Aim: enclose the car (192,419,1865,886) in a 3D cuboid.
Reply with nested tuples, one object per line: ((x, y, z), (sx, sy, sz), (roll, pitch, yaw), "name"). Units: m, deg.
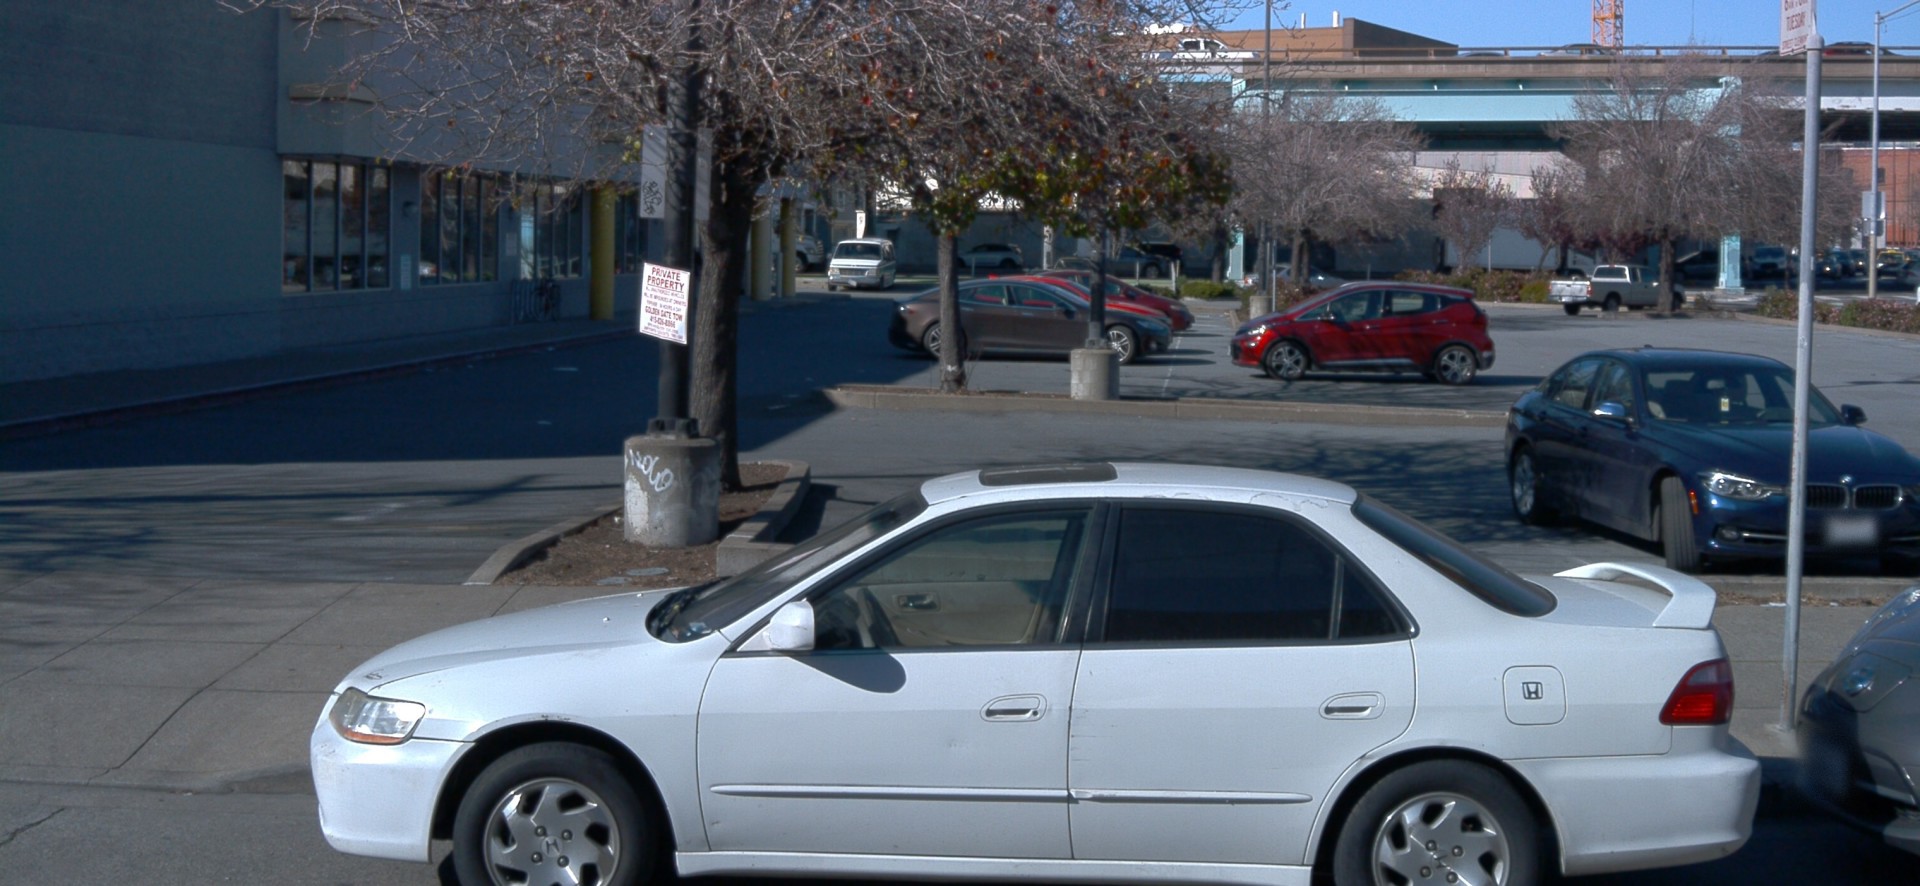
((0.197, 0.784, 7.070), (4.868, 1.435, 2.132), (1, 5, 2), "car")

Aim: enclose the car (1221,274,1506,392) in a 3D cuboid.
((6.337, -1.778, 32.669), (4.156, 1.695, 2.038), (1, 4, 2), "car")

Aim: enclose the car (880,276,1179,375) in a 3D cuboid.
((1.252, -2.072, 35.824), (5.045, 1.525, 1.995), (1, 4, 5), "car")
